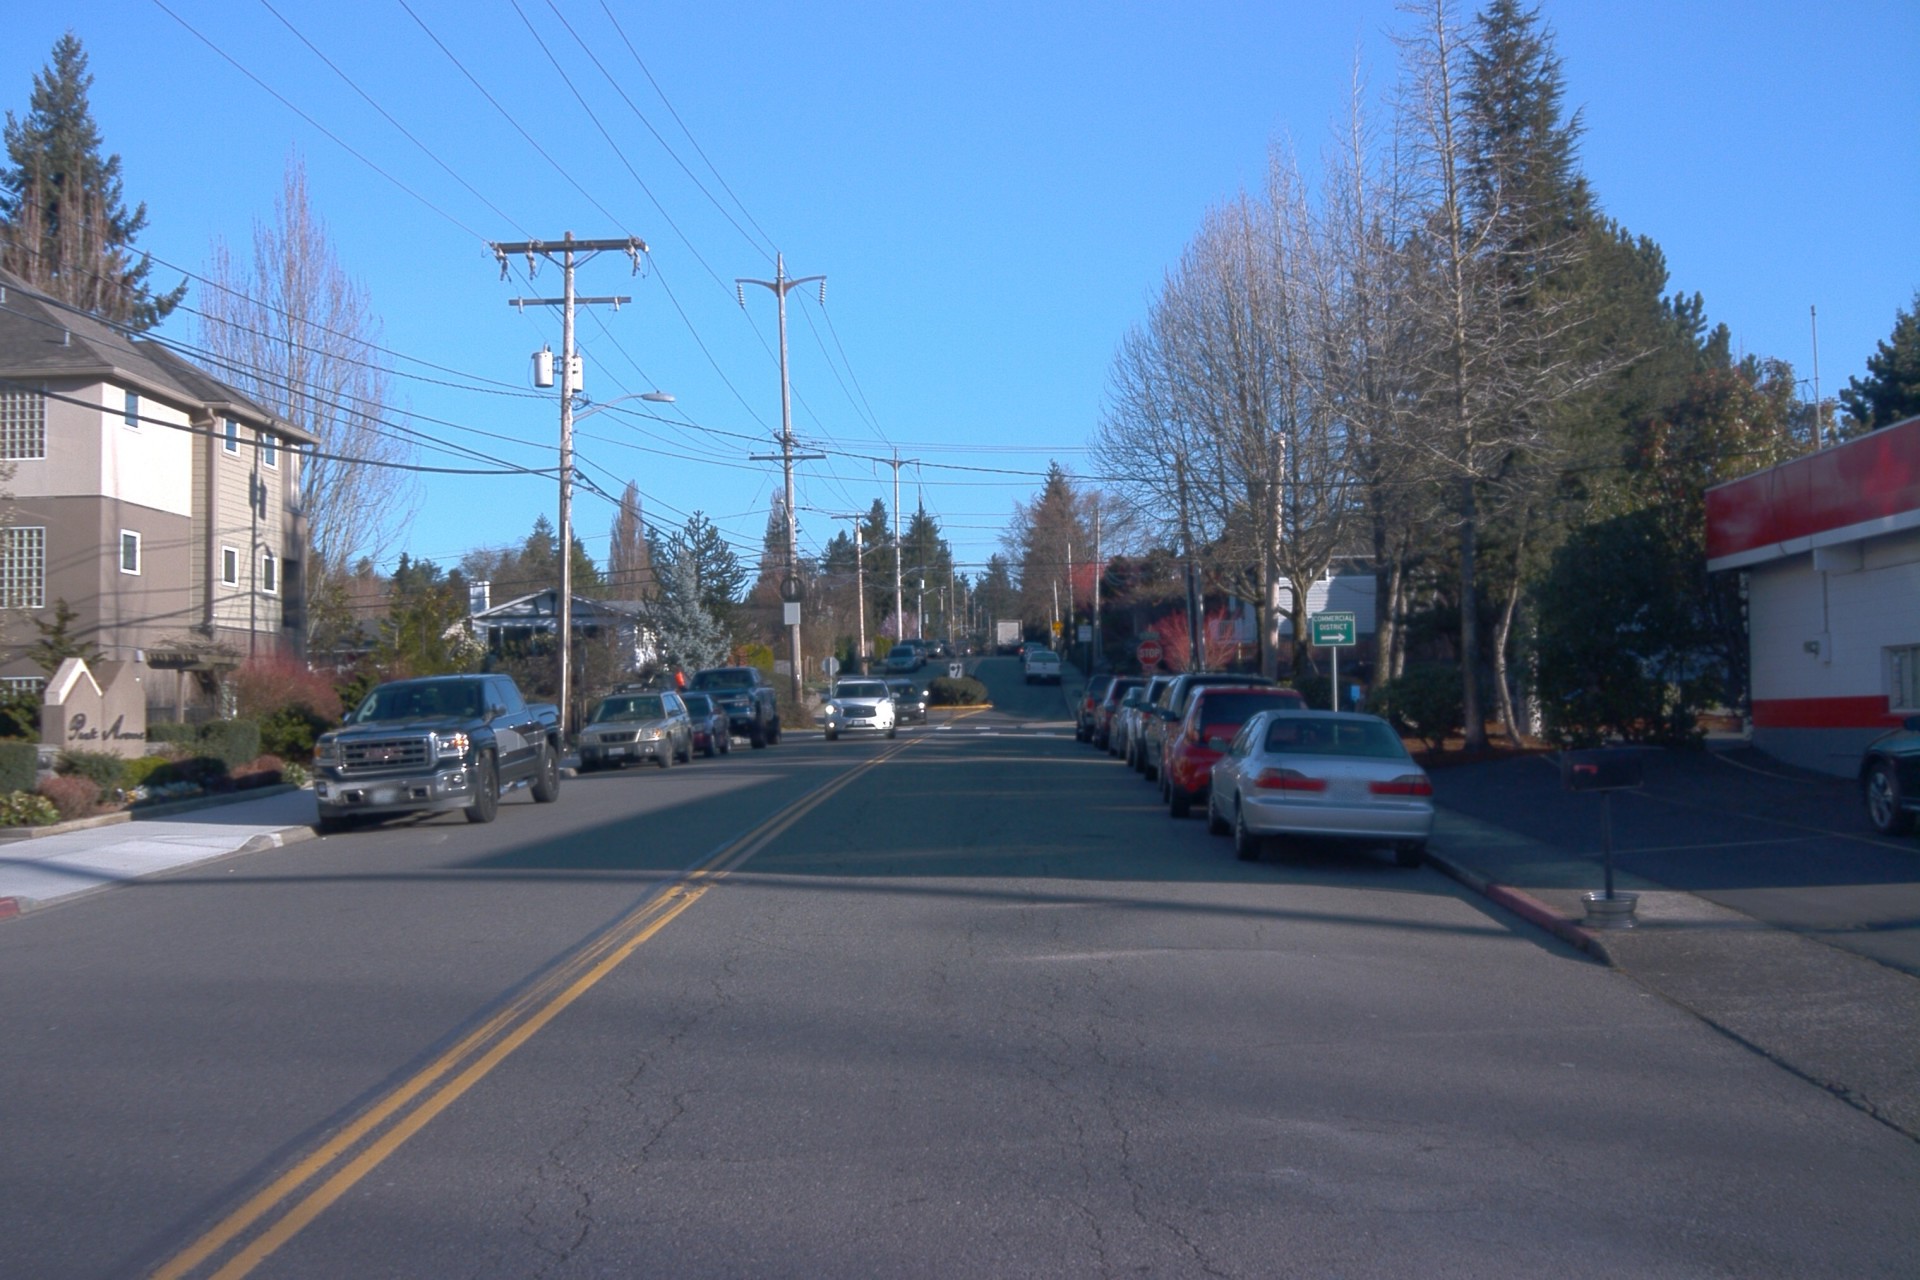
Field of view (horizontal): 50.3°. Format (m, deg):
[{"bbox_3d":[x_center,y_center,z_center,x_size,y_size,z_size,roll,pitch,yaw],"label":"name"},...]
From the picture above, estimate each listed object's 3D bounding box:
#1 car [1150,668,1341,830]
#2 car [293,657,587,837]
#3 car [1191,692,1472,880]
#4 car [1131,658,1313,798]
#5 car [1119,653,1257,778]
[{"bbox_3d":[3.473,1.282,25.583,1.979,1.750,4.059,1,0,3],"label":"car"},{"bbox_3d":[-6.731,1.301,27.282,2.334,2.020,5.796,1,0,1],"label":"car"},{"bbox_3d":[3.573,1.360,20.595,2.036,1.480,4.826,1,0,1],"label":"car"},{"bbox_3d":[3.811,1.238,30.630,2.294,1.820,4.918,1,0,3],"label":"car"},{"bbox_3d":[3.954,1.270,36.196,2.117,1.980,4.584,1,0,3],"label":"car"}]
